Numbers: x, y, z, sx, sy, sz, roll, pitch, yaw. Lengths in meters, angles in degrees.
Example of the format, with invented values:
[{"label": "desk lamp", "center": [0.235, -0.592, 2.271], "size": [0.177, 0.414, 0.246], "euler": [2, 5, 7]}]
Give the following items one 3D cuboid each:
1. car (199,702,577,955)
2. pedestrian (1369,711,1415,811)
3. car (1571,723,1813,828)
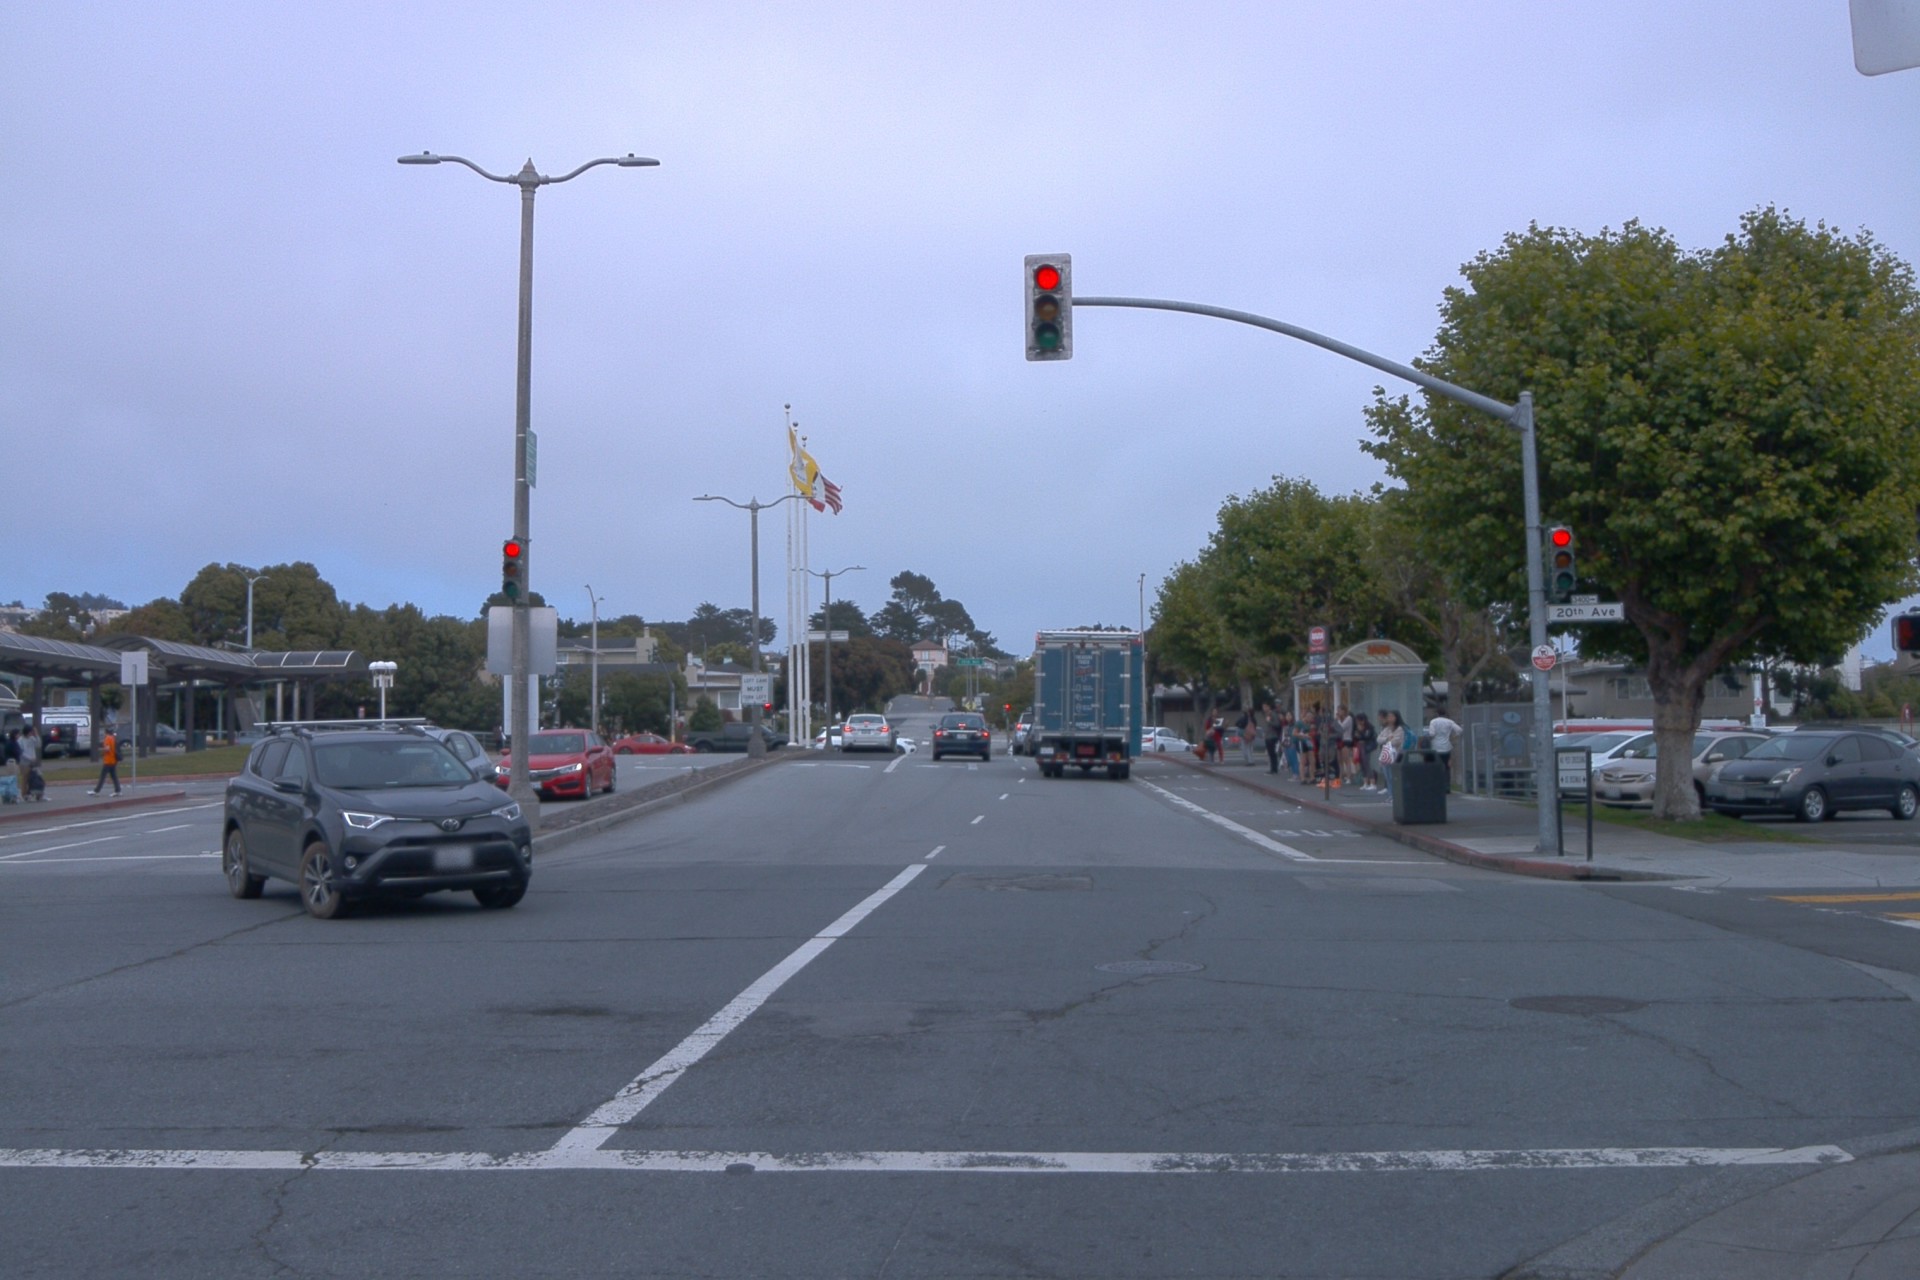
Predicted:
[{"label": "car", "center": [-5.537, 1.632, 19.468], "size": [2.095, 1.889, 4.606], "euler": [-1, 1, -34]}, {"label": "pedestrian", "center": [7.547, 2.105, 35.941], "size": [0.606, 1.700, 0.725], "euler": [0, 1, -5]}, {"label": "car", "center": [12.843, 2.326, 36.021], "size": [3.959, 1.540, 1.985], "euler": [-1, 1, -33]}]
